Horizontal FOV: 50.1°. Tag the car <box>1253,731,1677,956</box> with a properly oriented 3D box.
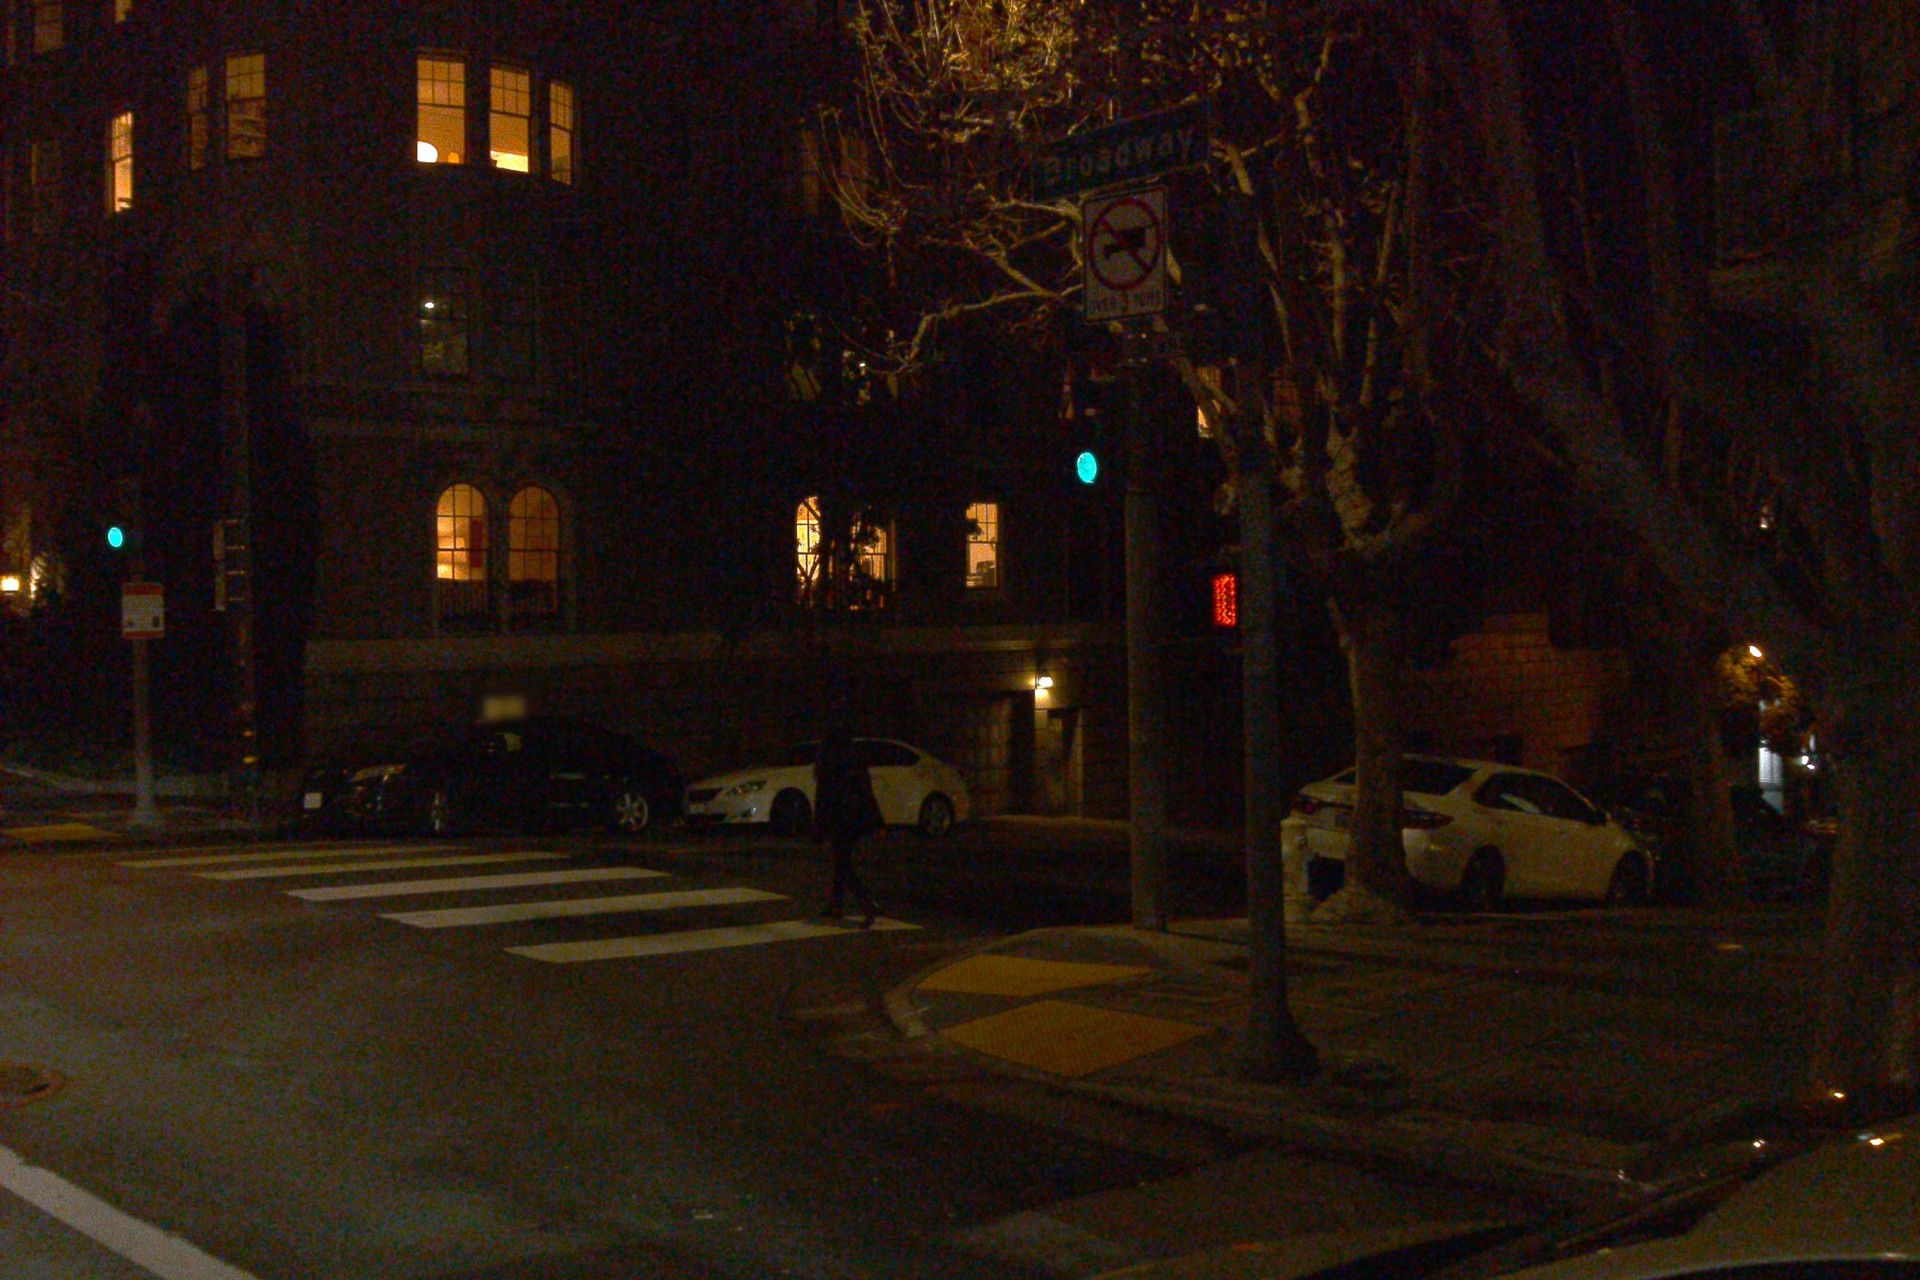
[{"bbox_3d":[5.162,1.920,20.643,4.554,1.811,1.990,0,0,-44],"label":"car"}]

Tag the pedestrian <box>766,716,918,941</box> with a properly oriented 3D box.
[{"bbox_3d":[-0.882,1.377,15.314,0.706,1.570,0.903,0,0,-43],"label":"pedestrian"}]

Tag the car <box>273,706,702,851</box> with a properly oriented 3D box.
[{"bbox_3d":[-5.380,1.527,23.873,1.838,1.362,4.644,1,0,42],"label":"car"}]

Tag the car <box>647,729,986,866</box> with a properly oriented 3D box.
[{"bbox_3d":[-1.845,2.050,27.685,1.919,1.482,4.488,1,0,42],"label":"car"}]

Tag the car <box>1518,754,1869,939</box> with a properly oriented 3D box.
[{"bbox_3d":[8.911,2.379,24.708,4.887,1.744,1.990,0,0,-44],"label":"car"}]
